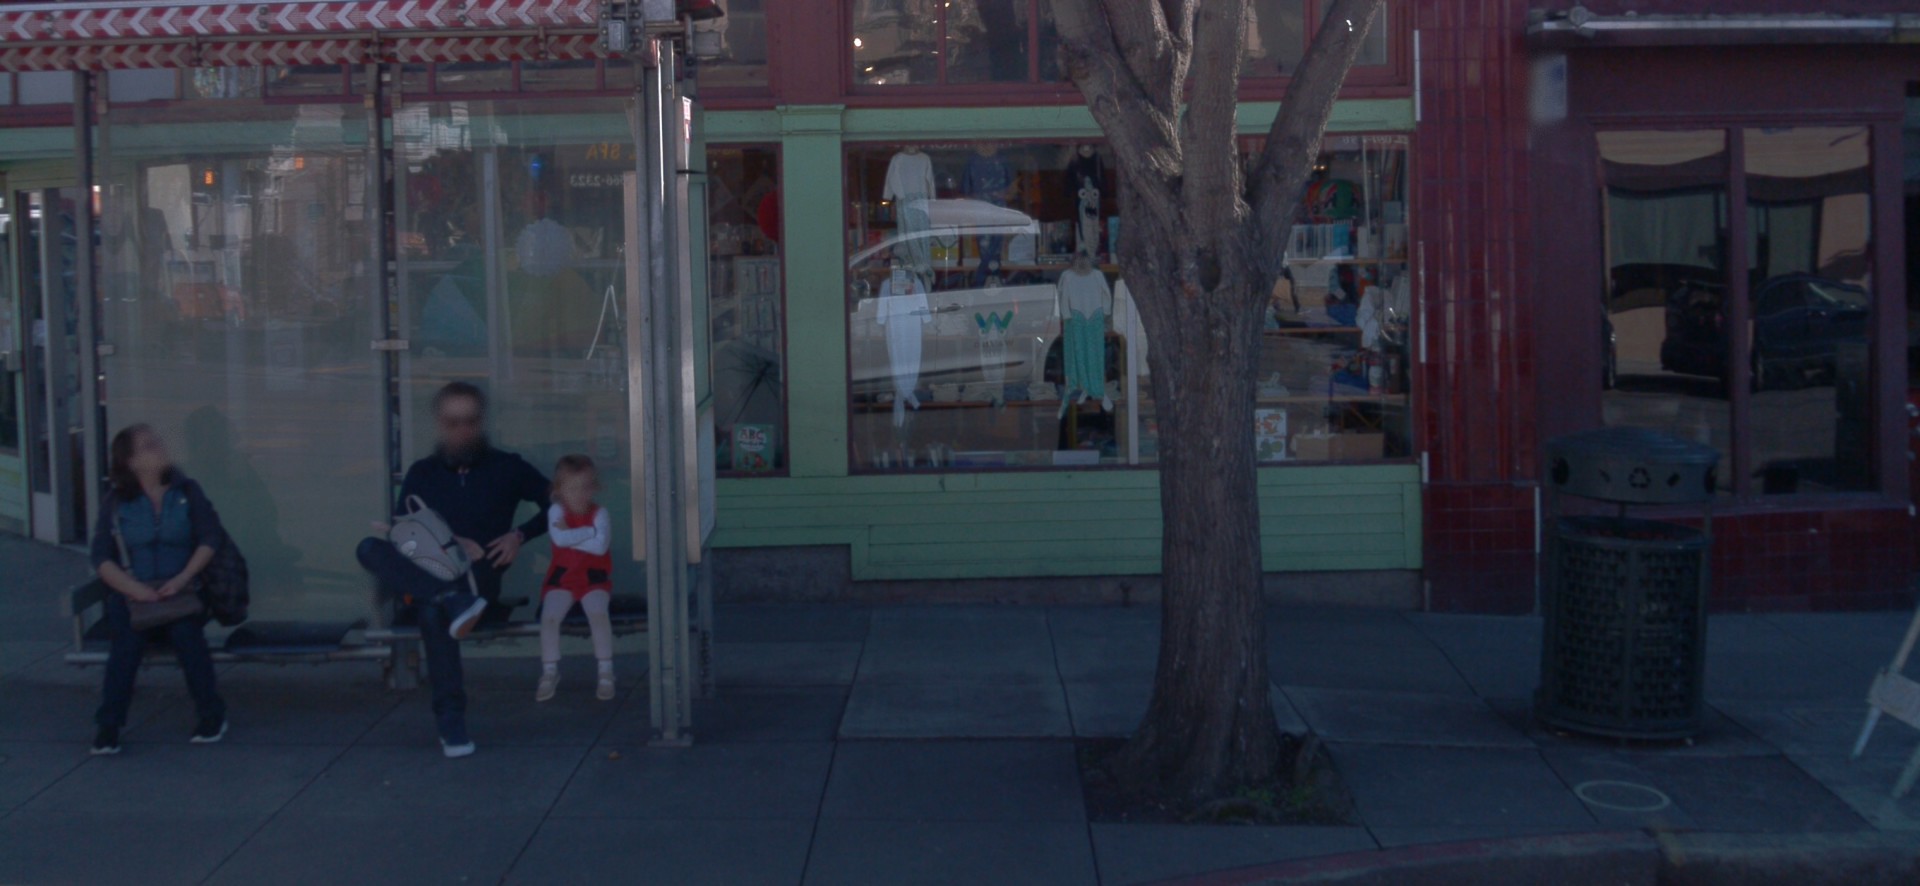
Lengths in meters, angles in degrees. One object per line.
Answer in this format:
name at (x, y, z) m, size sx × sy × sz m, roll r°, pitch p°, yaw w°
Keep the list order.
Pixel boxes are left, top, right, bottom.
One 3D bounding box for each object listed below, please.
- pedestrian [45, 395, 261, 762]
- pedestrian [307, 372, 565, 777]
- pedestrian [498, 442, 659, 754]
pedestrian at (-3.127, 0.486, 8.060) m, size 0.737 × 1.258 × 0.794 m, roll -1°, pitch 2°, yaw -19°
pedestrian at (-1.996, 0.465, 7.979) m, size 0.753 × 1.398 × 0.926 m, roll 0°, pitch 2°, yaw 0°
pedestrian at (-1.465, 0.578, 8.002) m, size 0.528 × 1.098 × 0.572 m, roll 0°, pitch 2°, yaw -3°
